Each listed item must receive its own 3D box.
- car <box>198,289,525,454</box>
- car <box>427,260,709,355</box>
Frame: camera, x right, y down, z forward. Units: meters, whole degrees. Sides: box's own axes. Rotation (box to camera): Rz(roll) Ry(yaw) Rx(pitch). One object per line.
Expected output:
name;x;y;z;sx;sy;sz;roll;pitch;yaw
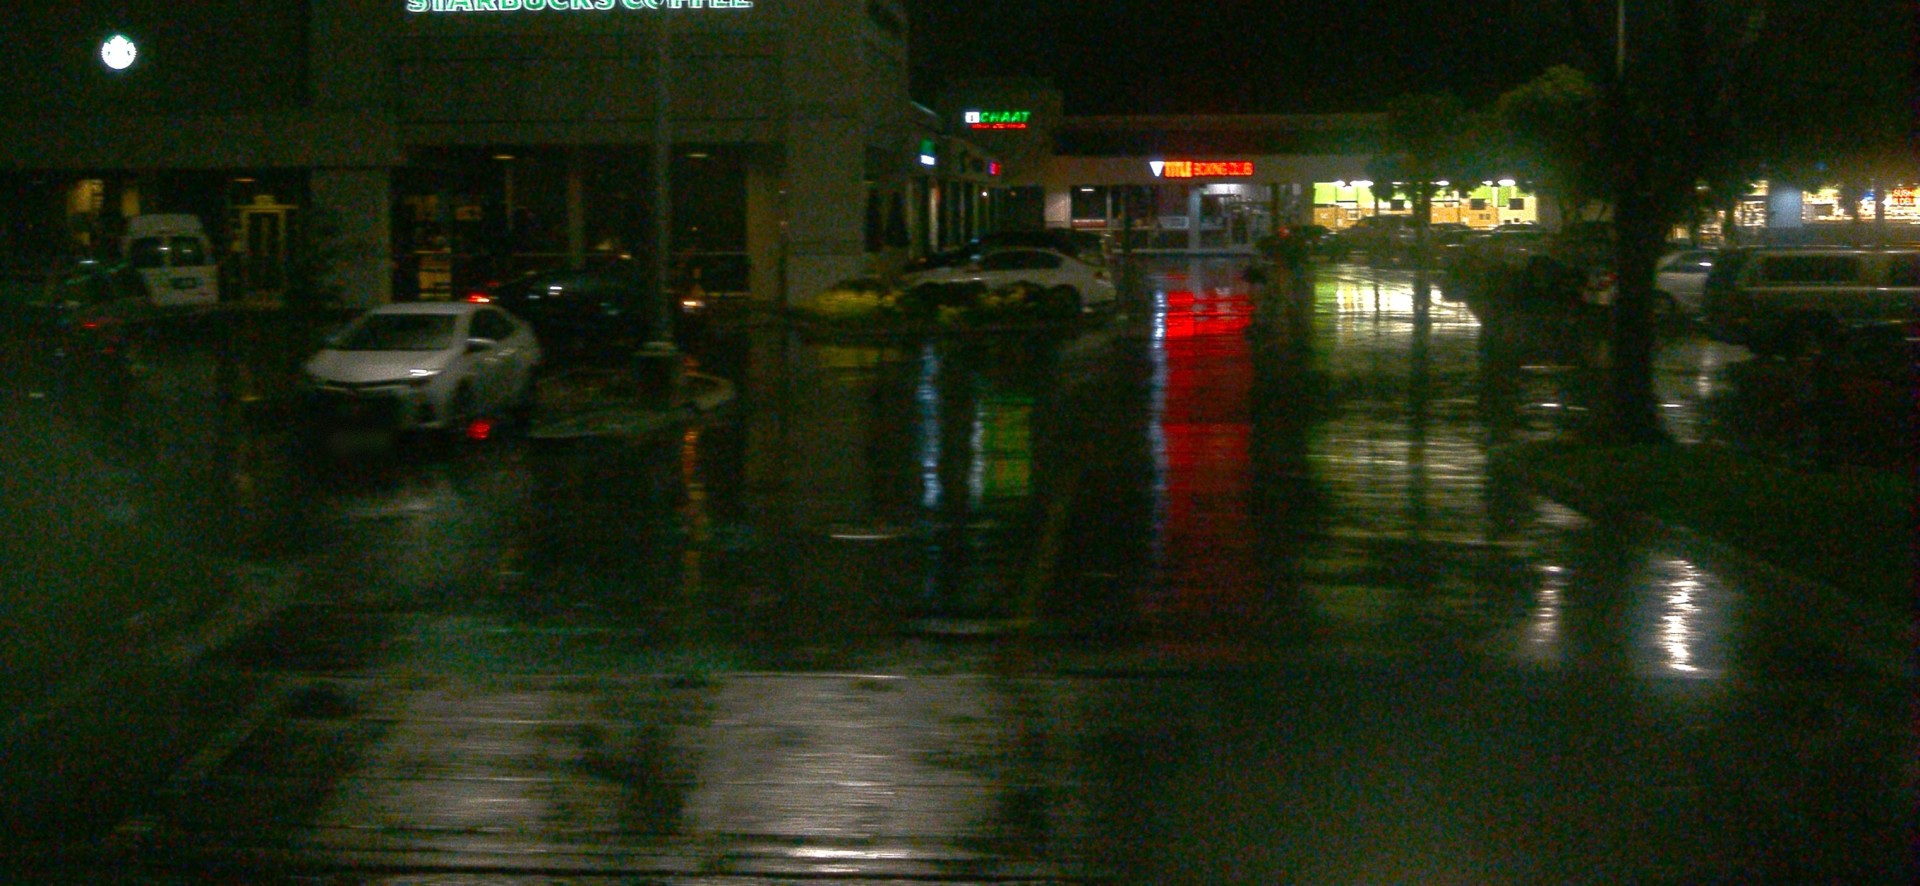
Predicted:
car;-6.549;-0.901;23.366;2.126;1.565;4.606;1;5;3
car;-6.938;-2.426;36.801;4.595;1.587;2.016;-1;4;-22
